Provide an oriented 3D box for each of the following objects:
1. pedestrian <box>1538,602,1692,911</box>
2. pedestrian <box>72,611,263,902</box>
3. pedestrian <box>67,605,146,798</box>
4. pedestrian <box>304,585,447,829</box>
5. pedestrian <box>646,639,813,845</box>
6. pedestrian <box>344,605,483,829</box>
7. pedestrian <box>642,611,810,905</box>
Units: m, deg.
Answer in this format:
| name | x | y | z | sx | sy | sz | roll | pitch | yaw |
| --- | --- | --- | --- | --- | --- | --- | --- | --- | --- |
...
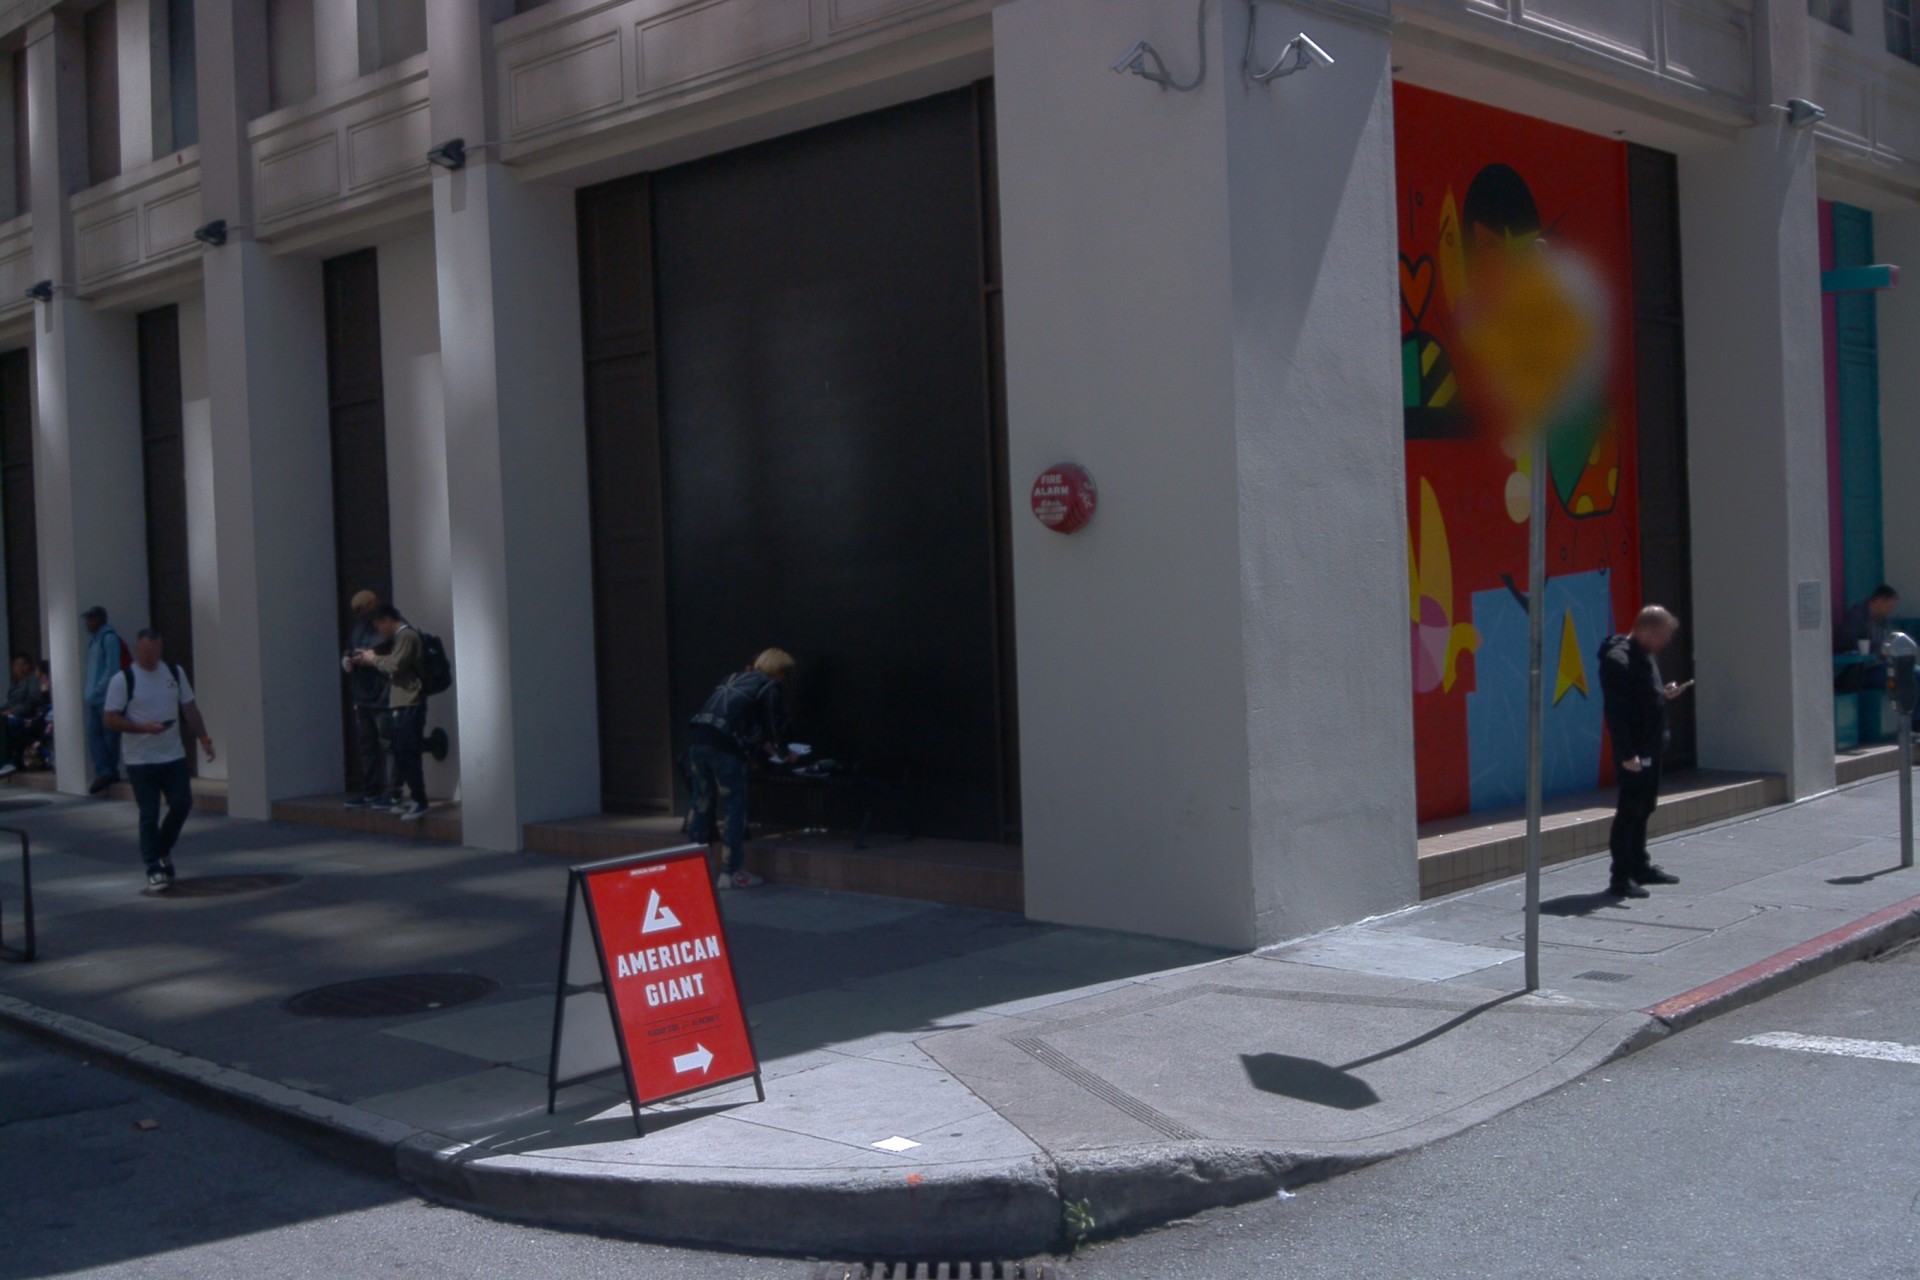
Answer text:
| name | x | y | z | sx | sy | sz | roll | pitch | yaw |
| --- | --- | --- | --- | --- | --- | --- | --- | --- | --- |
| pedestrian | 3.835 | 0.649 | 12.032 | 0.751 | 1.740 | 0.573 | 0 | 0 | -45 |
| pedestrian | -5.558 | 0.770 | 14.404 | 0.867 | 1.936 | 1.198 | 0 | 0 | -42 |
| pedestrian | -8.559 | 0.605 | 20.629 | 0.541 | 1.903 | 0.550 | 0 | 0 | 43 |
| pedestrian | -4.831 | 0.529 | 16.999 | 0.774 | 1.953 | 0.848 | 0 | 0 | 43 |
| pedestrian | -1.560 | 0.661 | 13.907 | 0.747 | 1.328 | 0.832 | 0 | 0 | 43 |
| pedestrian | -4.402 | 0.593 | 16.566 | 0.701 | 1.744 | 0.827 | 0 | 0 | 43 |
| pedestrian | -1.521 | 0.730 | 13.389 | 0.674 | 1.838 | 0.853 | 0 | 0 | 42 |
